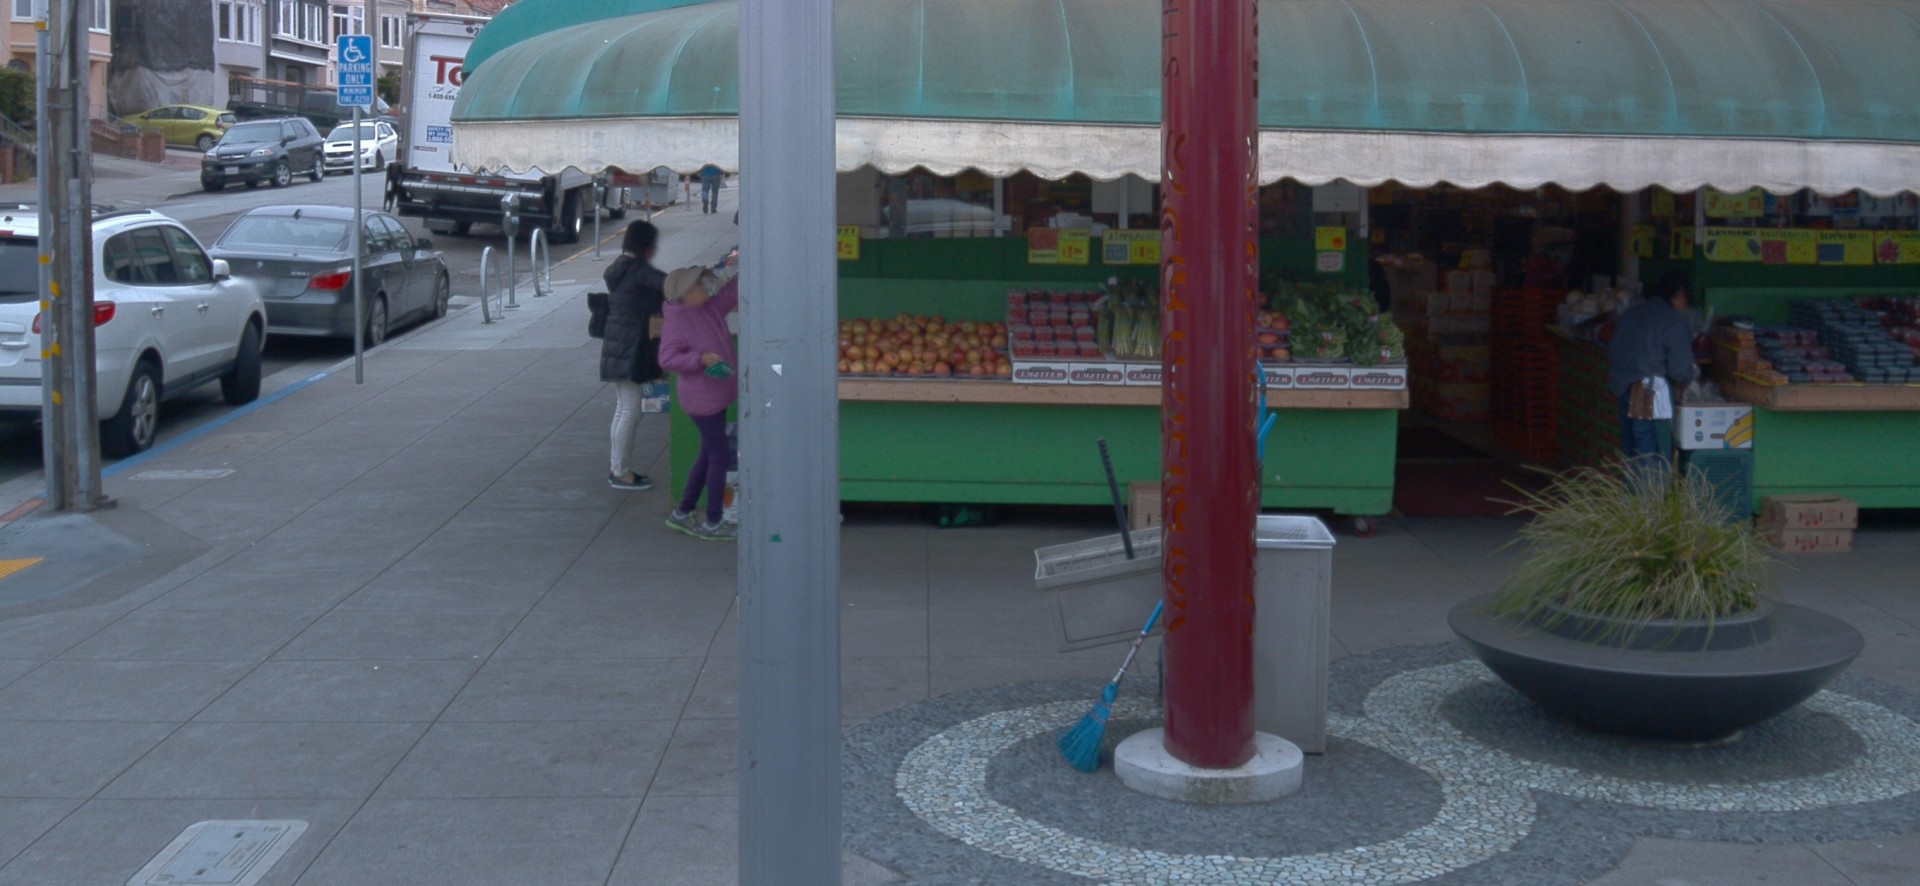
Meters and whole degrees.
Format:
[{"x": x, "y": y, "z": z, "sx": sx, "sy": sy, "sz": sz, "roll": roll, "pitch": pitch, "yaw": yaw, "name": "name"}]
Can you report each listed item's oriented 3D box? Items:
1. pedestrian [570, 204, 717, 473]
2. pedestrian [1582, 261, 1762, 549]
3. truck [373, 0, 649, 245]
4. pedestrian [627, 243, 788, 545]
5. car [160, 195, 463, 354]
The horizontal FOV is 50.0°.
[{"x": -1.977, "y": -0.676, "z": 12.790, "sx": 0.796, "sy": 1.607, "sz": 0.823, "roll": -1, "pitch": 2, "yaw": -17, "name": "pedestrian"}, {"x": 3.998, "y": -0.238, "z": 11.602, "sx": 0.743, "sy": 1.557, "sz": 0.755, "roll": 0, "pitch": 2, "yaw": 0, "name": "pedestrian"}, {"x": -7.694, "y": -5.482, "z": 36.850, "sx": 2.914, "sy": 3.770, "sz": 10.115, "roll": 0, "pitch": 5, "yaw": -1, "name": "truck"}, {"x": -1.375, "y": -0.293, "z": 11.140, "sx": 0.797, "sy": 1.564, "sz": 0.706, "roll": 0, "pitch": 2, "yaw": -13, "name": "pedestrian"}, {"x": -6.737, "y": -1.850, "z": 21.916, "sx": 1.969, "sy": 1.513, "sz": 4.609, "roll": 0, "pitch": 6, "yaw": -3, "name": "car"}]
